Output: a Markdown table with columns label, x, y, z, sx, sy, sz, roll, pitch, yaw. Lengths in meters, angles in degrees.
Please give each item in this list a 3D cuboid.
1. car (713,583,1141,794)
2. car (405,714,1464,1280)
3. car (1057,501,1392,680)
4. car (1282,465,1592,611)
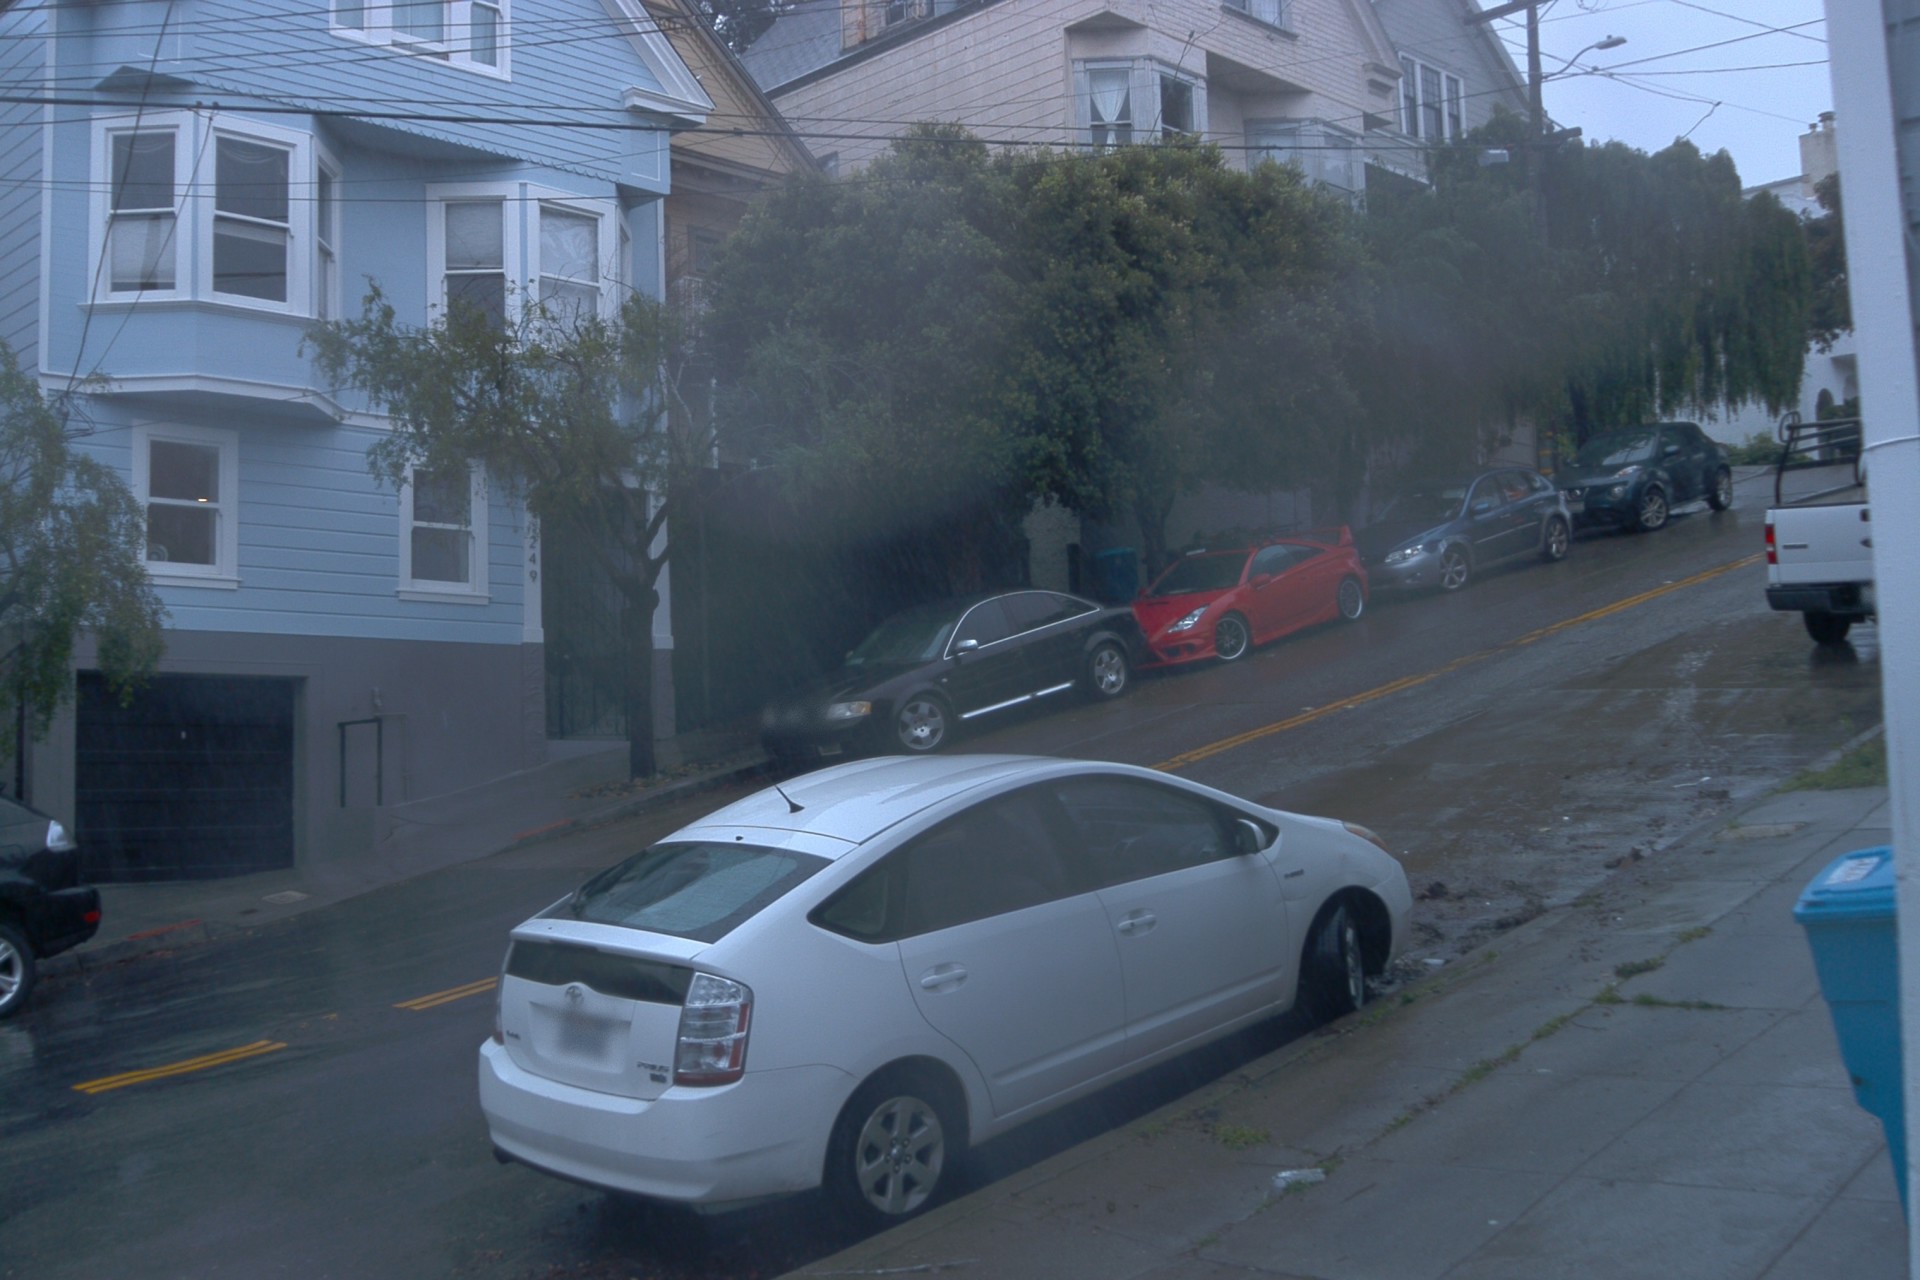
| label | x | y | z | sx | sy | sz | roll | pitch | yaw |
| --- | --- | --- | --- | --- | --- | --- | --- | --- | --- |
| car | -0.265 | 0.453 | 21.415 | 4.206 | 1.970 | 2.031 | 0 | 0 | -45 |
| car | 0.072 | 1.318 | 8.702 | 4.193 | 1.850 | 2.044 | 0 | 0 | -43 |
| car | 3.278 | -0.550 | 24.958 | 2.006 | 1.990 | 4.048 | 1 | 0 | 44 |
| car | 6.700 | -1.333 | 28.497 | 1.981 | 1.800 | 4.754 | 1 | 0 | 45 |
